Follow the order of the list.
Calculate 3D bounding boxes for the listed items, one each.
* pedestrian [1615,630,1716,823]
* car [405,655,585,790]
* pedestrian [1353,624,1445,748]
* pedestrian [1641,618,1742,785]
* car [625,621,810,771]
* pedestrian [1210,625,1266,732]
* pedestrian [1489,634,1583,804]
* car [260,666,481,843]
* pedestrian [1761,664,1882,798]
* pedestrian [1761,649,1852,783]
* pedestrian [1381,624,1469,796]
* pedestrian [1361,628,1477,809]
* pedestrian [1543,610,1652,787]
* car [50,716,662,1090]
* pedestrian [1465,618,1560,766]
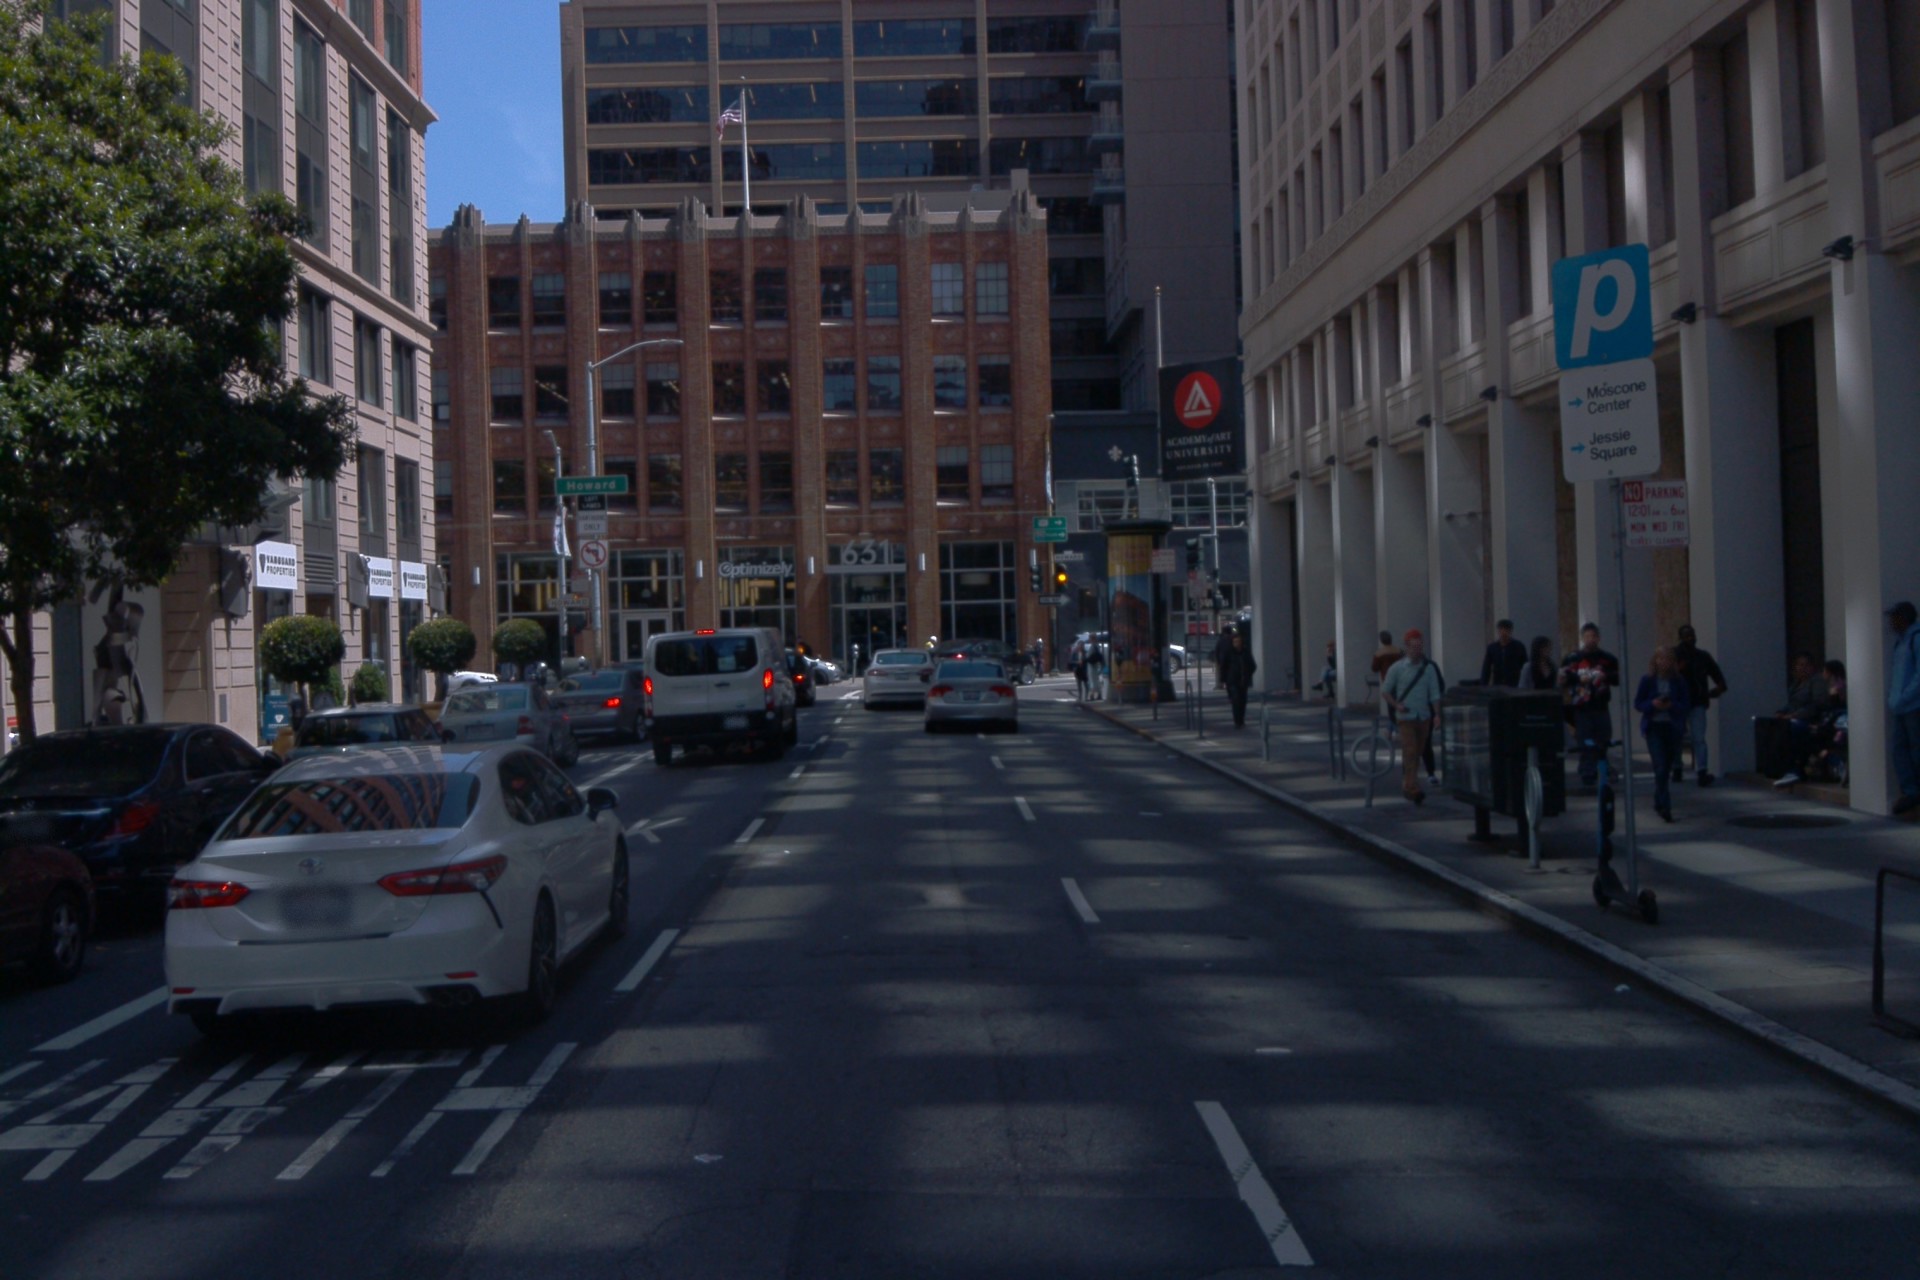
[{"bbox_3d":[6.530,0.783,19.062,0.740,1.736,0.893,0,1,10],"label":"pedestrian"},{"bbox_3d":[-6.944,1.181,31.164,2.013,1.790,4.575,0,1,-4],"label":"car"},{"bbox_3d":[6.674,0.678,31.293,0.895,1.846,1.143,0,1,-18],"label":"pedestrian"},{"bbox_3d":[7.759,0.634,21.842,0.864,1.736,0.941,0,1,11],"label":"pedestrian"},{"bbox_3d":[-3.836,0.809,33.600,2.374,2.200,5.788,0,1,0],"label":"car"},{"bbox_3d":[4.983,0.671,36.896,0.898,1.886,1.185,0,1,3],"label":"pedestrian"},{"bbox_3d":[6.287,0.841,22.489,0.782,1.806,0.991,0,1,3],"label":"pedestrian"},{"bbox_3d":[-6.905,1.277,24.442,1.876,1.840,3.763,0,1,-6],"label":"car"},{"bbox_3d":[8.543,0.886,20.386,0.965,1.270,0.638,0,1,40],"label":"pedestrian"},{"bbox_3d":[8.643,0.768,21.008,0.609,1.328,0.748,0,1,0],"label":"pedestrian"},{"bbox_3d":[5.239,0.766,23.116,0.869,1.886,0.940,0,1,19],"label":"pedestrian"},{"bbox_3d":[4.822,0.800,21.662,0.897,1.846,1.186,0,1,-4],"label":"pedestrian"},{"bbox_3d":[6.979,0.621,22.545,0.894,1.906,1.030,0,1,2],"label":"pedestrian"},{"bbox_3d":[-3.211,1.334,12.218,2.215,1.500,5.057,0,1,-1],"label":"car"},{"bbox_3d":[7.238,0.655,26.917,0.902,1.886,1.180,0,1,32],"label":"pedestrian"}]
